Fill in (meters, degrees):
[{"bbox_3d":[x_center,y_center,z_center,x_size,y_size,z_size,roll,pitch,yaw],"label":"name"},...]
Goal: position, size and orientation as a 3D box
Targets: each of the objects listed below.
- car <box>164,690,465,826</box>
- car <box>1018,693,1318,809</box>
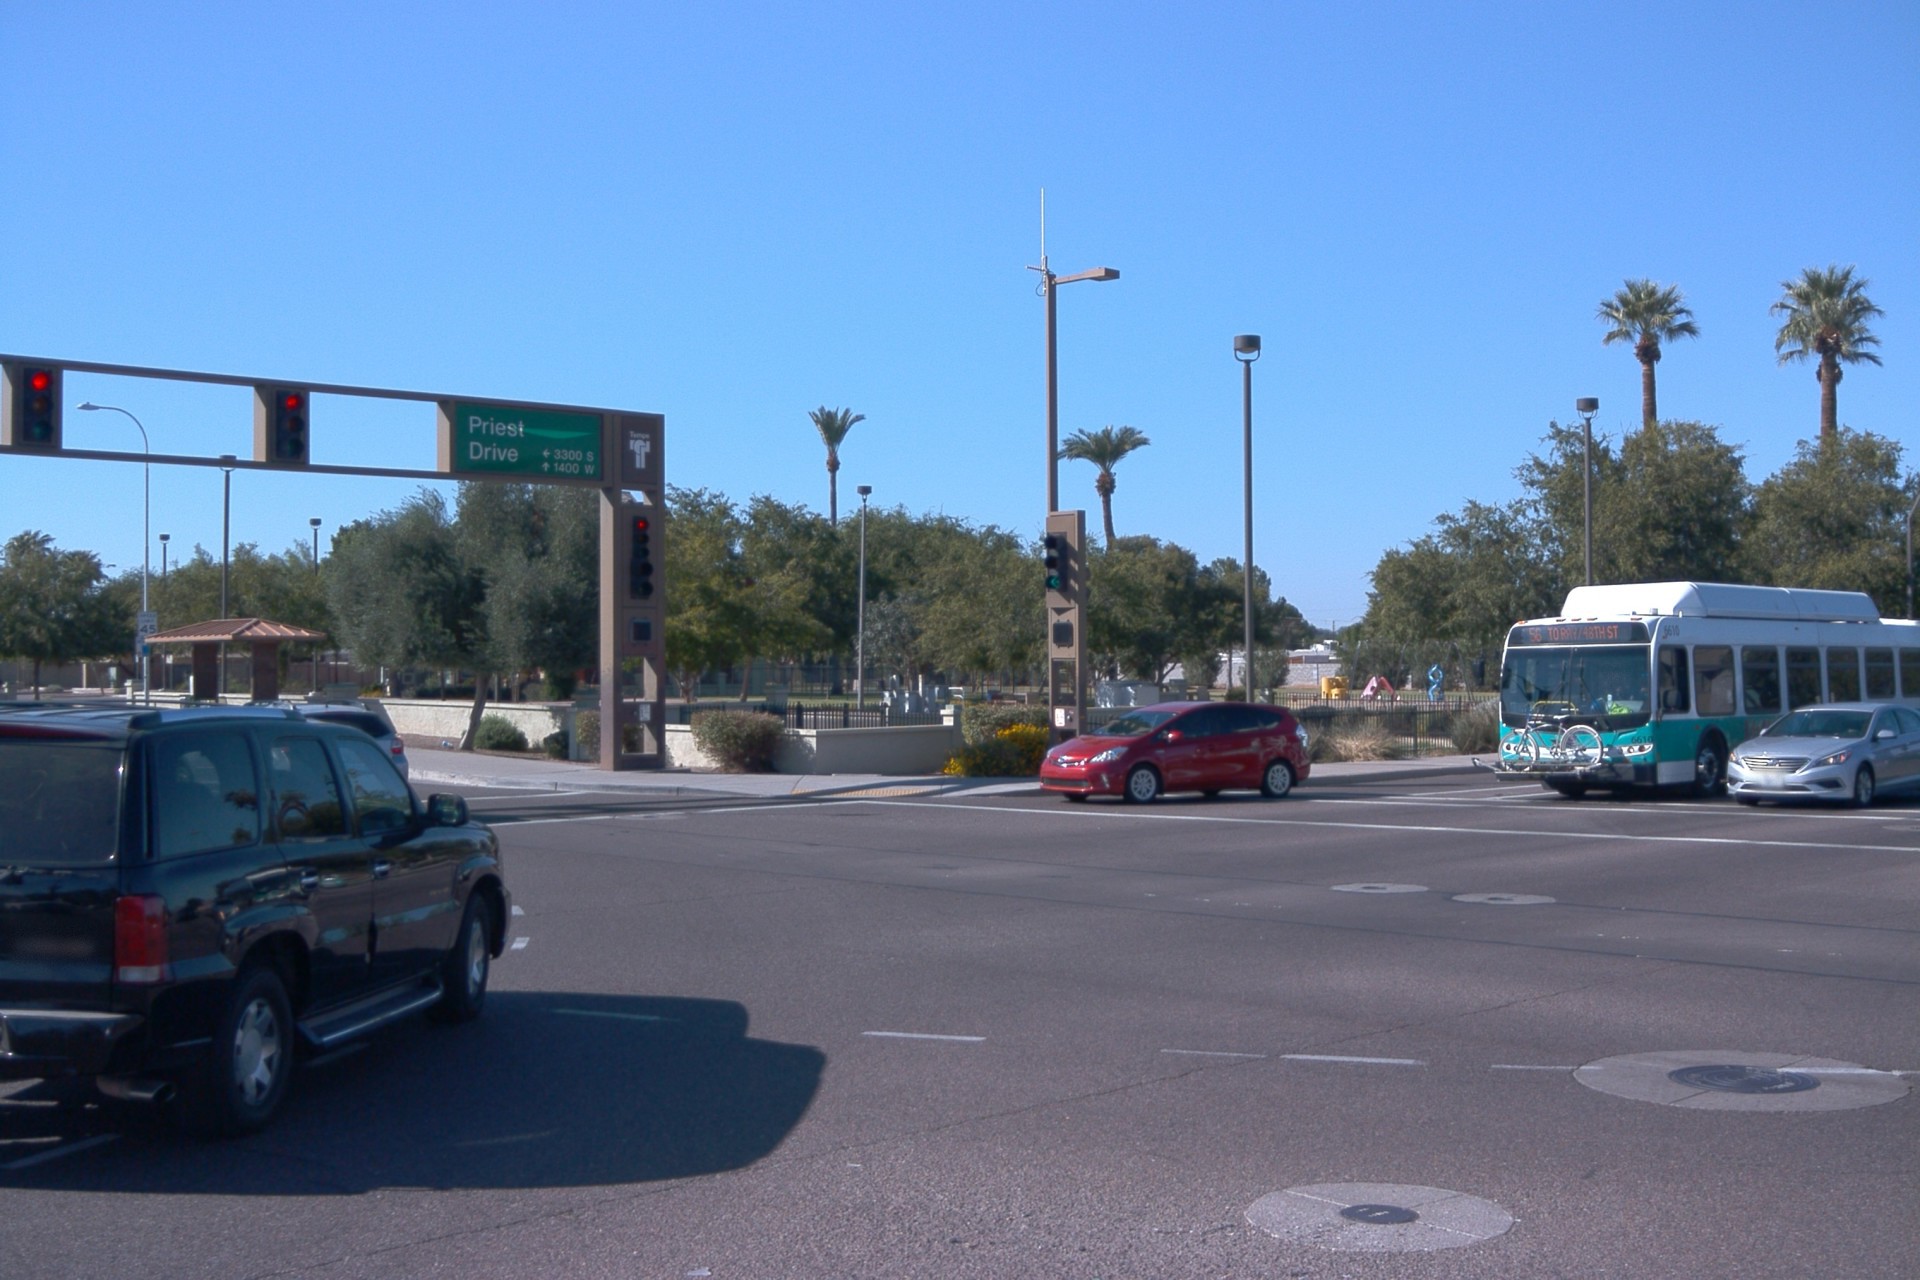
[{"bbox_3d":[-8.961,1.547,28.612,2.094,1.610,4.727,0,0,-43],"label":"car"},{"bbox_3d":[3.335,1.694,32.905,4.582,1.620,1.930,0,0,-35],"label":"car"}]
